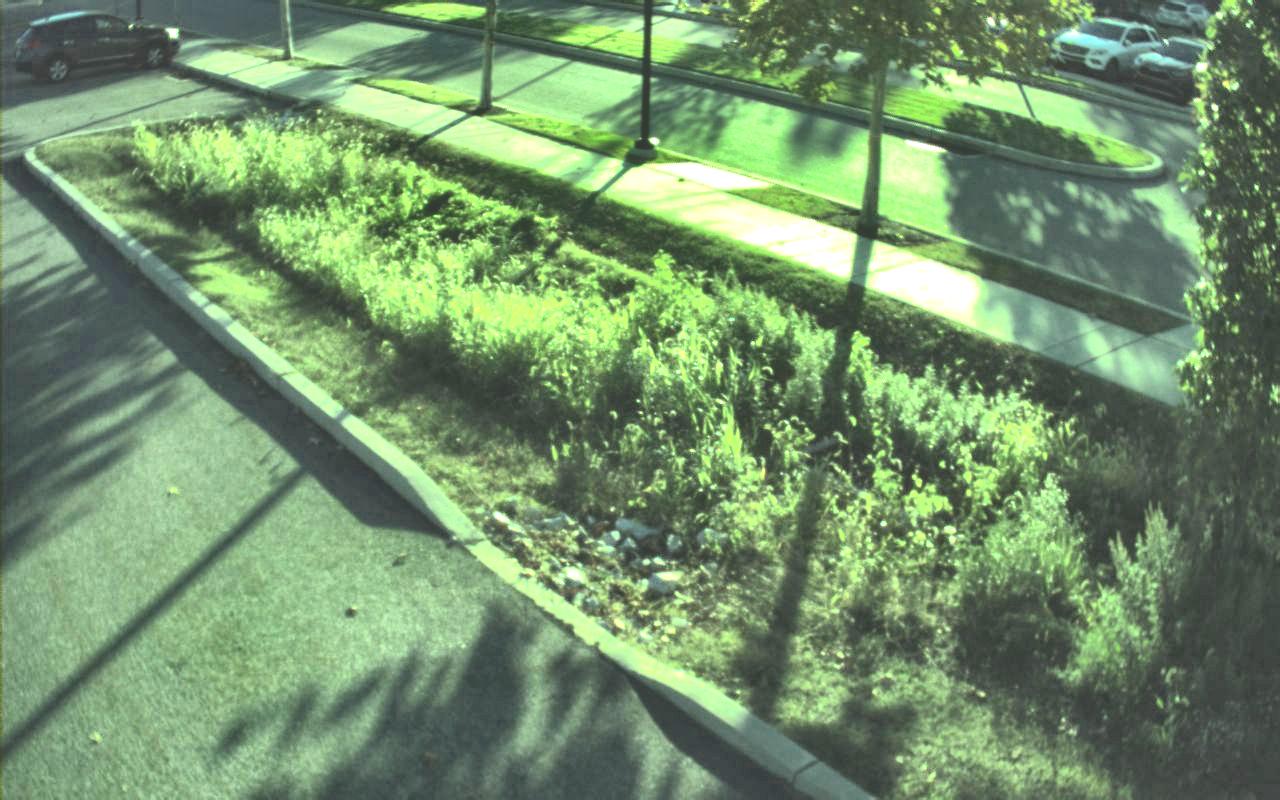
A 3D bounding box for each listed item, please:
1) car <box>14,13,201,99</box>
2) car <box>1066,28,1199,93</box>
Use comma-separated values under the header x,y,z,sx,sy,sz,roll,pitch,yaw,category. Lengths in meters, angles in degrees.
x,y,z,sx,sy,sz,roll,pitch,yaw,category
-13.424,-8.550,28.202,4.643,1.653,1.989,-15,20,-41,car
14.569,-9.891,33.857,4.649,1.673,1.986,-12,18,-34,car
